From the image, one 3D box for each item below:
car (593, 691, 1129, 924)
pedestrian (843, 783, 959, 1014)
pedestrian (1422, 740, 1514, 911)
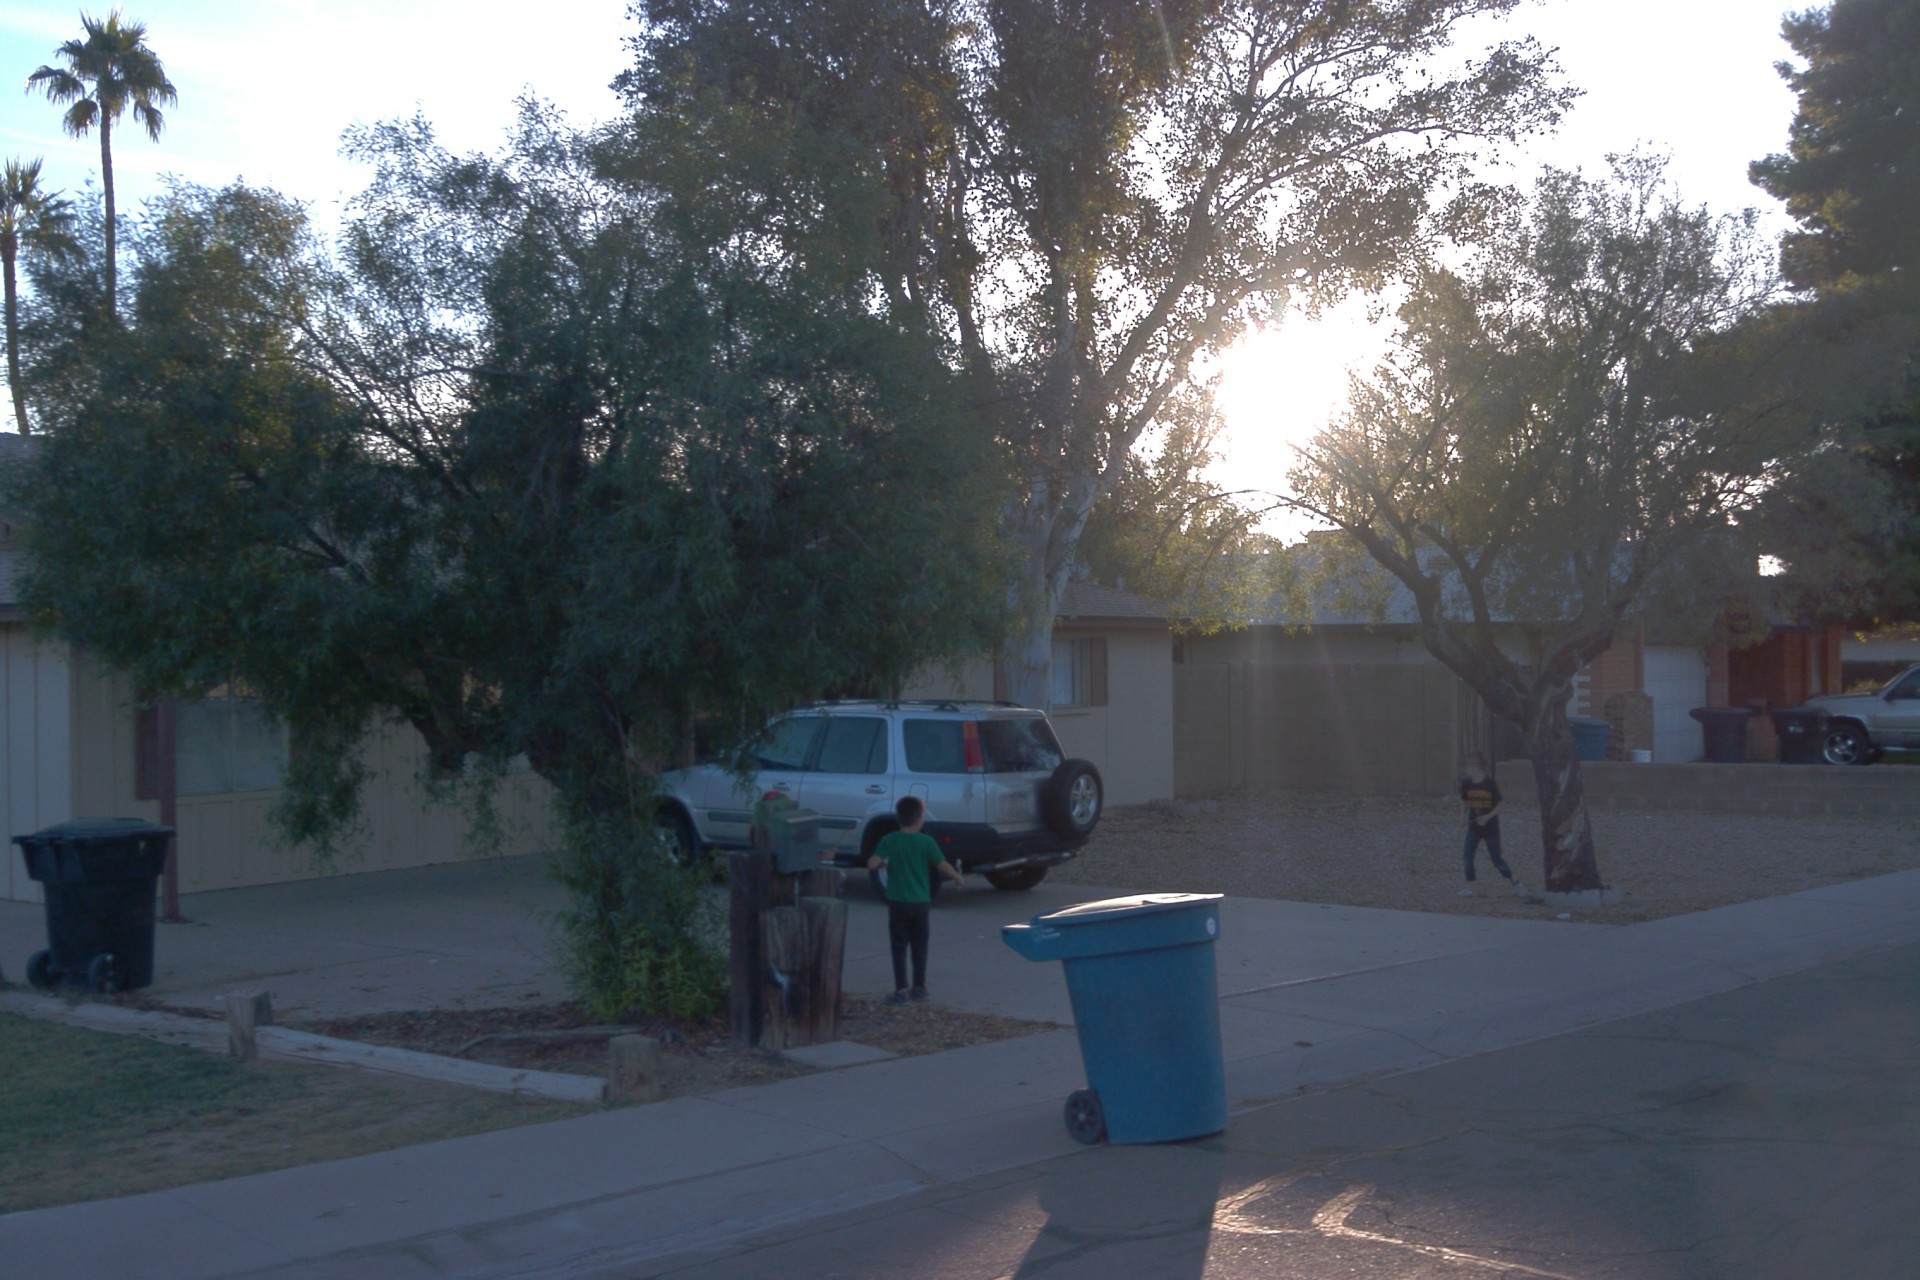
[{"bbox_3d":[-0.931,1.357,18.362,4.368,1.710,2.081,0,0,36],"label":"car"},{"bbox_3d":[-0.347,1.535,12.504,0.581,1.295,0.665,0,0,8],"label":"pedestrian"},{"bbox_3d":[4.380,1.583,17.942,0.589,1.400,0.528,0,0,-42],"label":"pedestrian"}]
